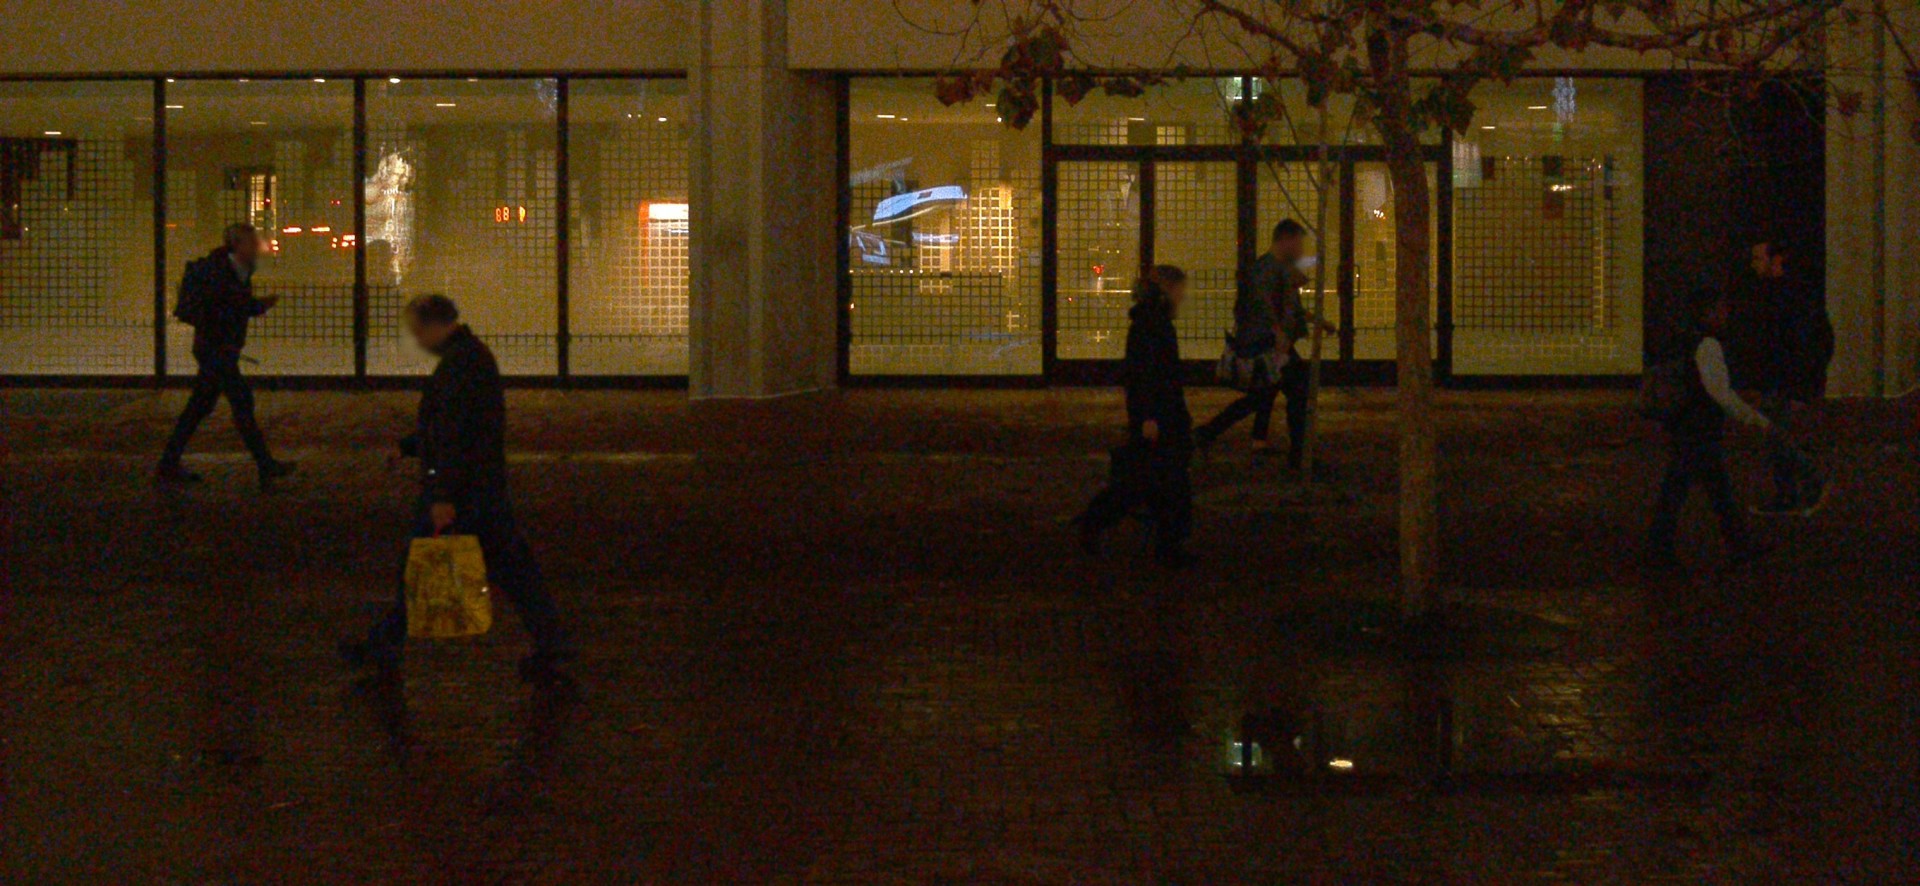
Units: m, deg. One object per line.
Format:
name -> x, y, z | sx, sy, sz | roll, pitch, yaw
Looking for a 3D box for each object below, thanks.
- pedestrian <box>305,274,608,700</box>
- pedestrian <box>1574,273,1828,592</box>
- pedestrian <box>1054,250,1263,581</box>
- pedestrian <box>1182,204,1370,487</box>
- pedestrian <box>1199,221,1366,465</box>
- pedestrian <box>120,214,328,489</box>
pedestrian -> -2.155, 0.142, 8.954 | 1.063, 1.741, 0.945 | 0, 1, 2
pedestrian -> 3.999, -0.093, 11.187 | 1.106, 1.651, 0.848 | 0, 1, 4
pedestrian -> 1.126, -0.198, 11.476 | 1.091, 1.751, 0.971 | 0, 1, 9
pedestrian -> 2.212, -0.707, 14.532 | 1.195, 1.931, 0.894 | 0, 1, 1
pedestrian -> 2.371, -0.755, 15.236 | 1.132, 1.761, 0.747 | 0, 0, 2
pedestrian -> -5.048, -0.650, 14.173 | 1.111, 1.831, 0.844 | 0, 1, 2
